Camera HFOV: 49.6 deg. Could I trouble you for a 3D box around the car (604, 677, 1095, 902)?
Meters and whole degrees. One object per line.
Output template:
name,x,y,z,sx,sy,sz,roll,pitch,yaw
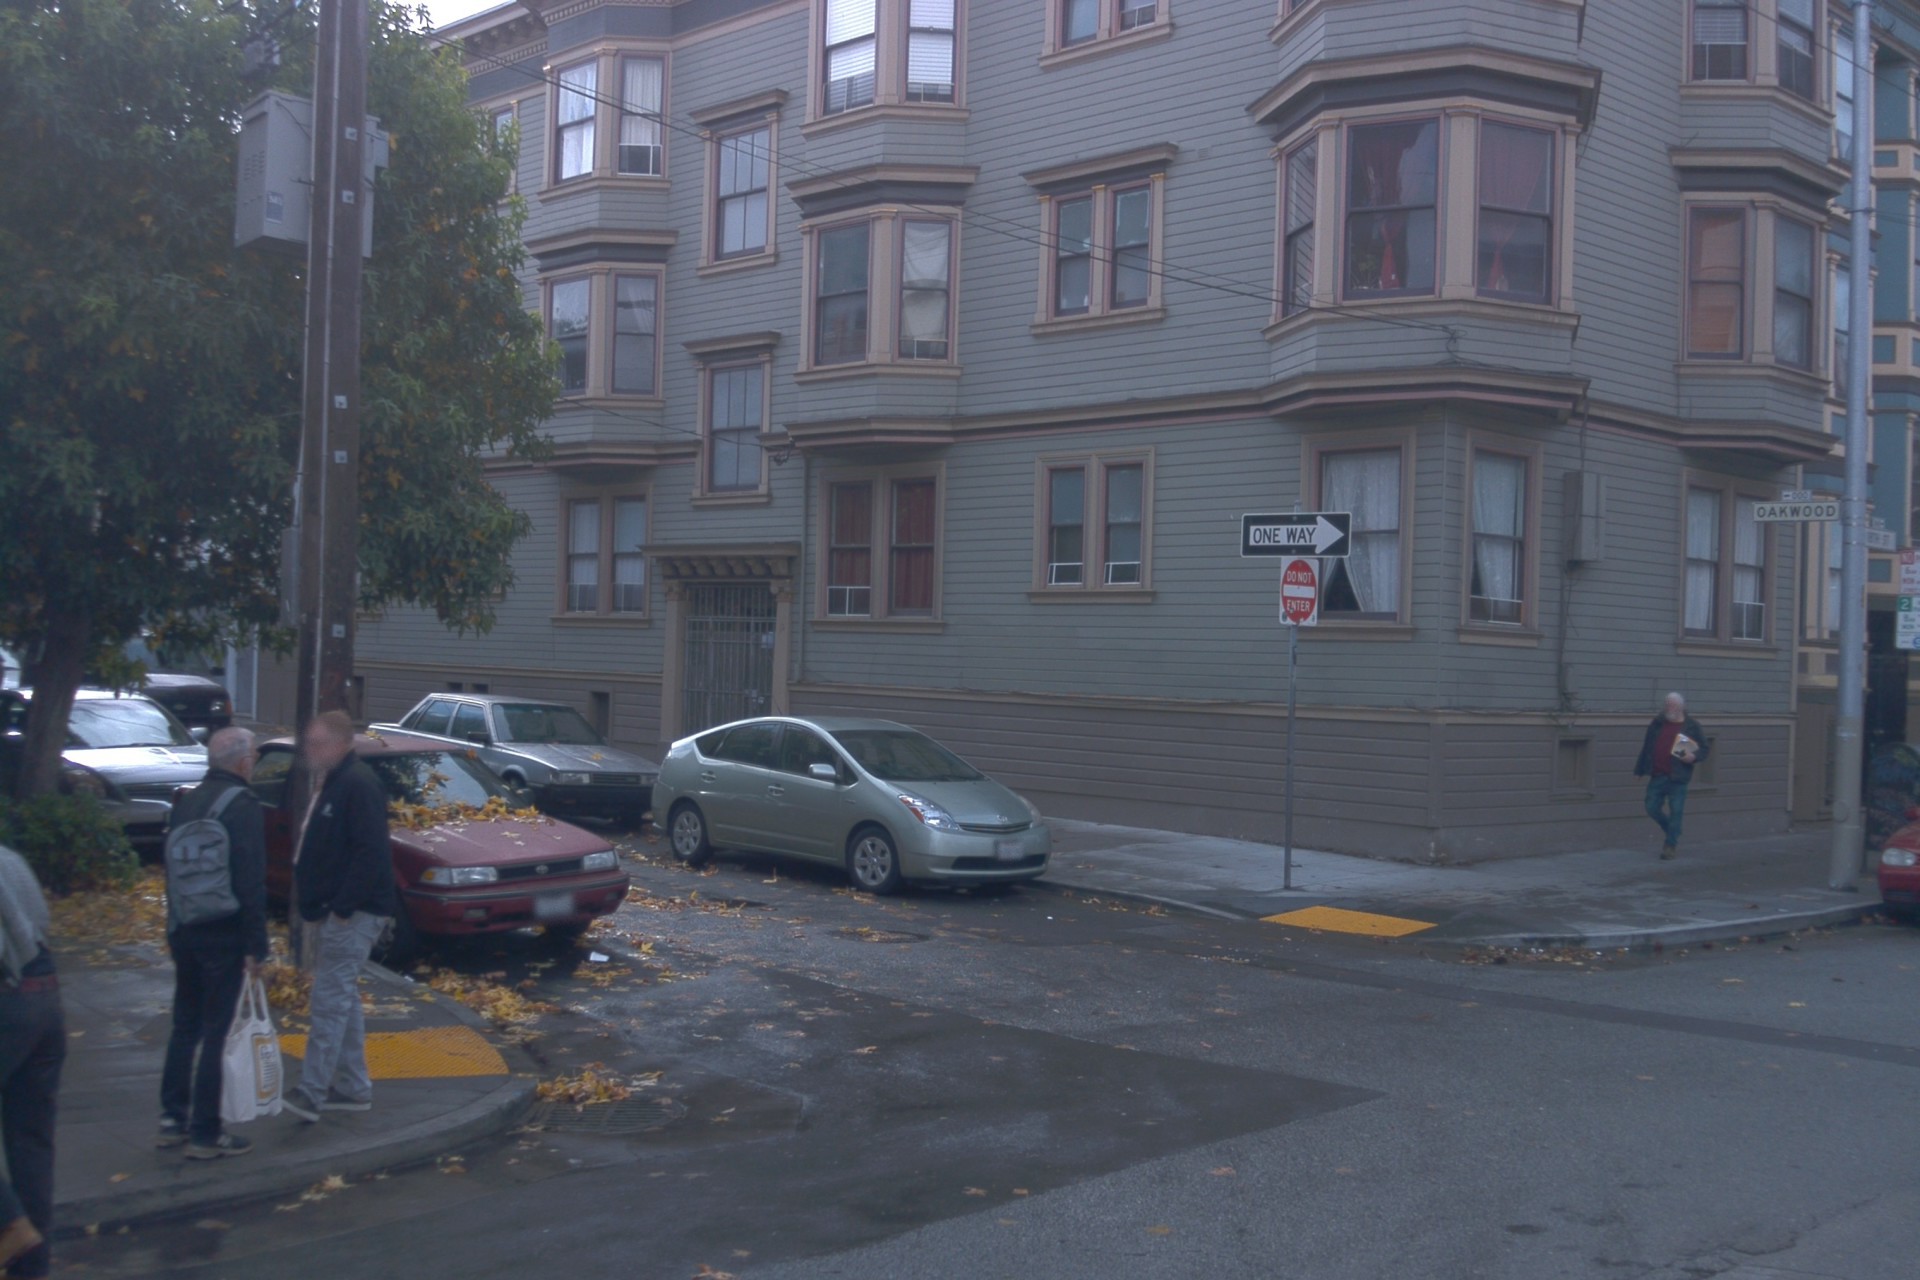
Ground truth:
car,-1.127,1.276,19.307,4.448,1.760,2.070,0,-1,45

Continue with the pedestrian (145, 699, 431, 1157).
pedestrian,-2.953,1.204,9.135,0.882,1.860,0.789,1,-1,37

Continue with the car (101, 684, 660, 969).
car,-4.290,1.202,14.989,4.313,1.670,1.876,1,-1,43

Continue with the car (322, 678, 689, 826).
car,-5.259,1.205,23.666,1.976,1.440,4.434,2,-1,-45

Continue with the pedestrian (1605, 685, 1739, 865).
pedestrian,7.636,1.420,22.257,1.006,1.850,0.994,2,-1,-45
